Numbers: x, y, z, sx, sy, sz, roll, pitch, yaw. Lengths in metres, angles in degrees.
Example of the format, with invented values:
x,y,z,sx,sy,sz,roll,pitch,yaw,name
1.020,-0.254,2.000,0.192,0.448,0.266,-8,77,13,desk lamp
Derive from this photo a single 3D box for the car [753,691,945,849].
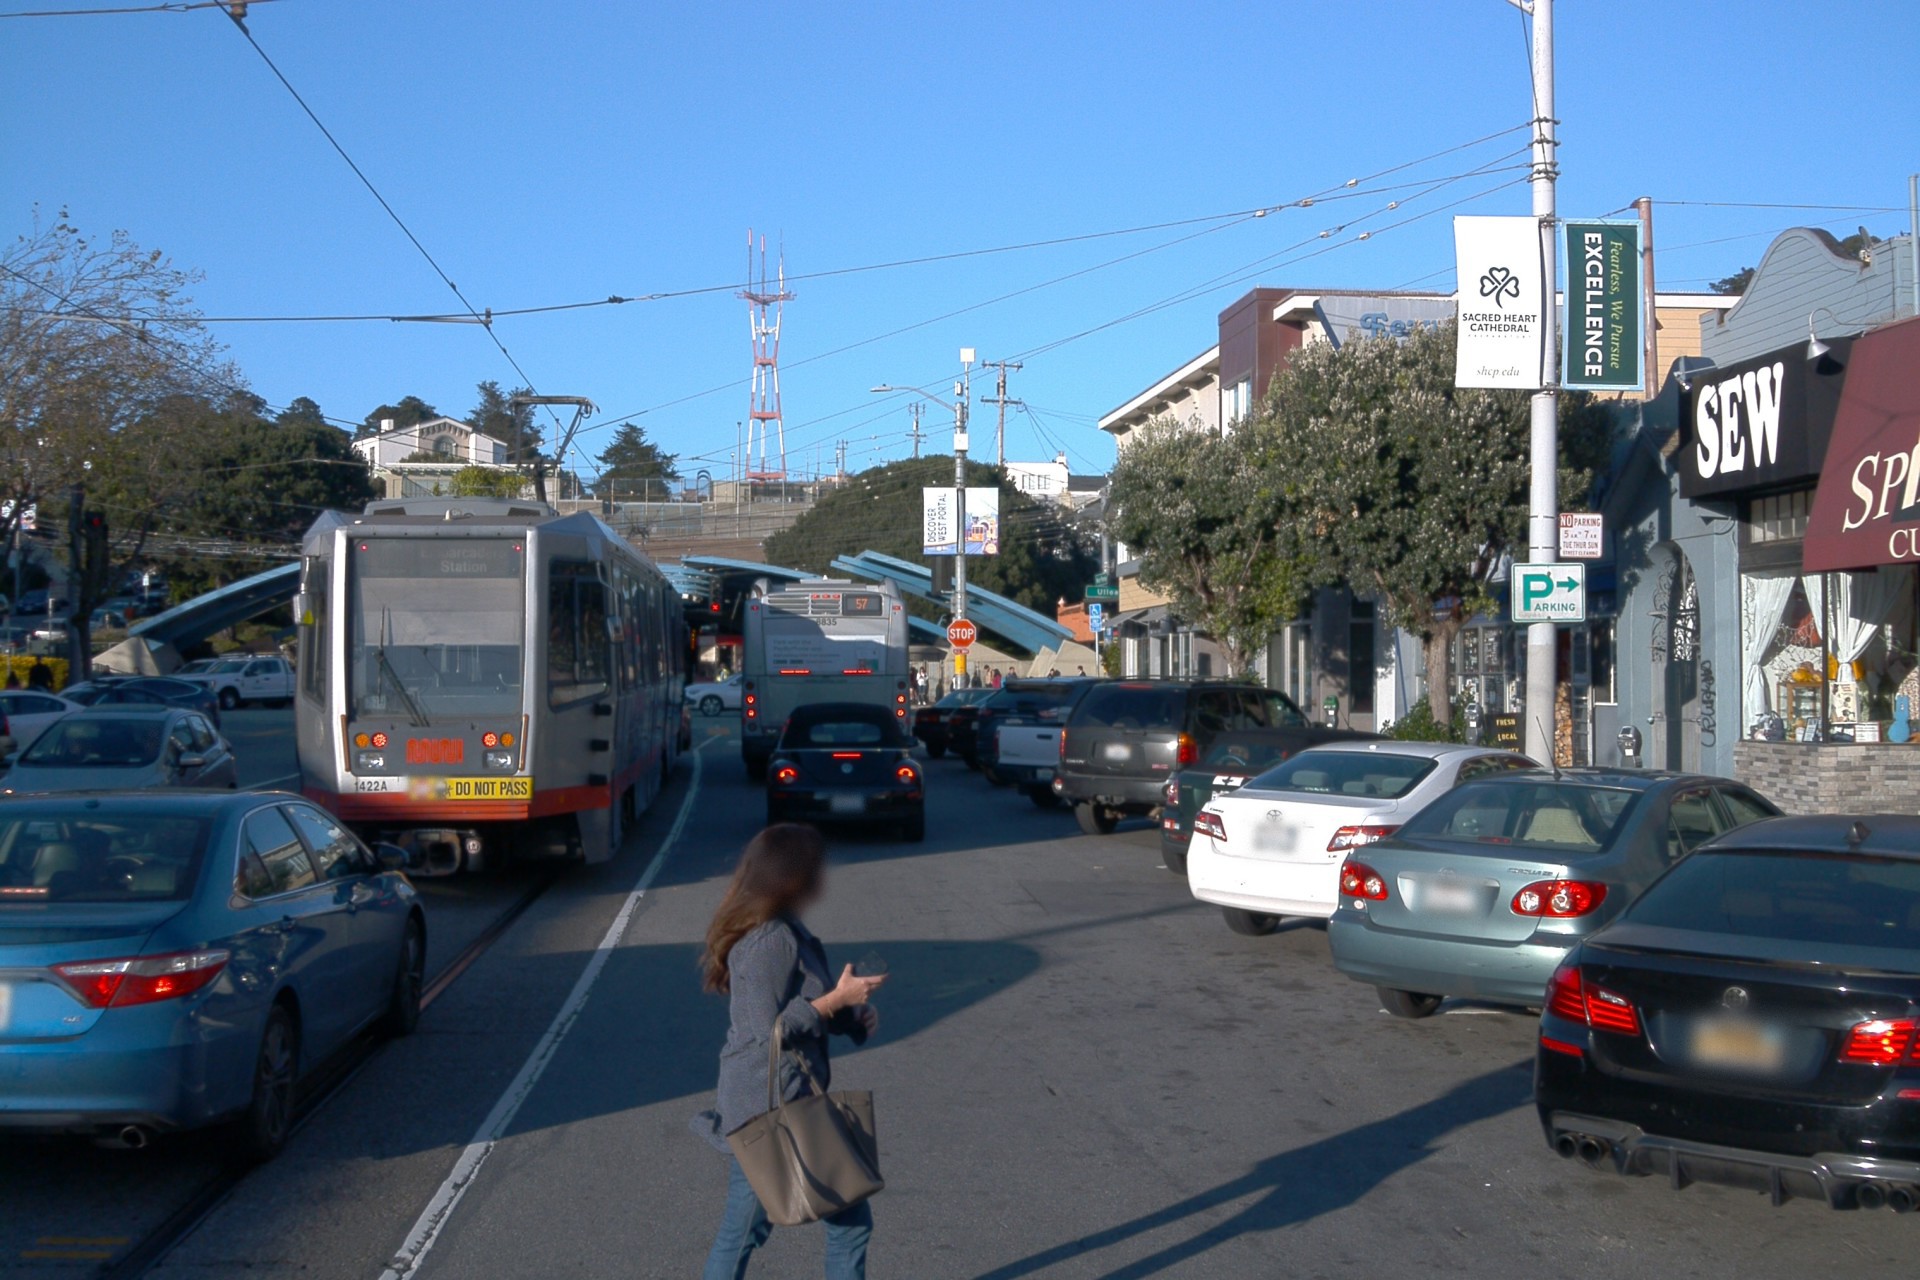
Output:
x,y,z,sx,sy,sz,roll,pitch,yaw,name
-1.326,1.418,23.801,2.012,1.580,4.002,0,0,-5,car

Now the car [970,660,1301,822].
x,y,z,sx,sy,sz,roll,pitch,yaw,name
2.453,1.264,27.885,2.182,1.960,4.676,0,0,39,car

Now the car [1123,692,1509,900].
x,y,z,sx,sy,sz,roll,pitch,yaw,name
3.513,1.414,20.089,2.039,1.730,3.659,0,0,42,car

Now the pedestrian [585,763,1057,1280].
x,y,z,sx,sy,sz,roll,pitch,yaw,name
-0.423,1.252,5.661,1.126,1.760,1.059,0,0,-13,pedestrian

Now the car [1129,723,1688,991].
x,y,z,sx,sy,sz,roll,pitch,yaw,name
3.571,1.499,15.850,2.155,1.560,4.683,0,0,42,car

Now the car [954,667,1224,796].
x,y,z,sx,sy,sz,roll,pitch,yaw,name
2.080,1.354,32.283,2.117,1.830,4.377,0,0,37,car

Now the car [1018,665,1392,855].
x,y,z,sx,sy,sz,roll,pitch,yaw,name
2.973,1.272,24.094,2.267,1.940,4.891,0,0,35,car

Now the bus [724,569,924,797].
x,y,z,sx,sy,sz,roll,pitch,yaw,name
-2.471,0.676,37.447,2.992,3.400,12.791,0,0,-4,bus
